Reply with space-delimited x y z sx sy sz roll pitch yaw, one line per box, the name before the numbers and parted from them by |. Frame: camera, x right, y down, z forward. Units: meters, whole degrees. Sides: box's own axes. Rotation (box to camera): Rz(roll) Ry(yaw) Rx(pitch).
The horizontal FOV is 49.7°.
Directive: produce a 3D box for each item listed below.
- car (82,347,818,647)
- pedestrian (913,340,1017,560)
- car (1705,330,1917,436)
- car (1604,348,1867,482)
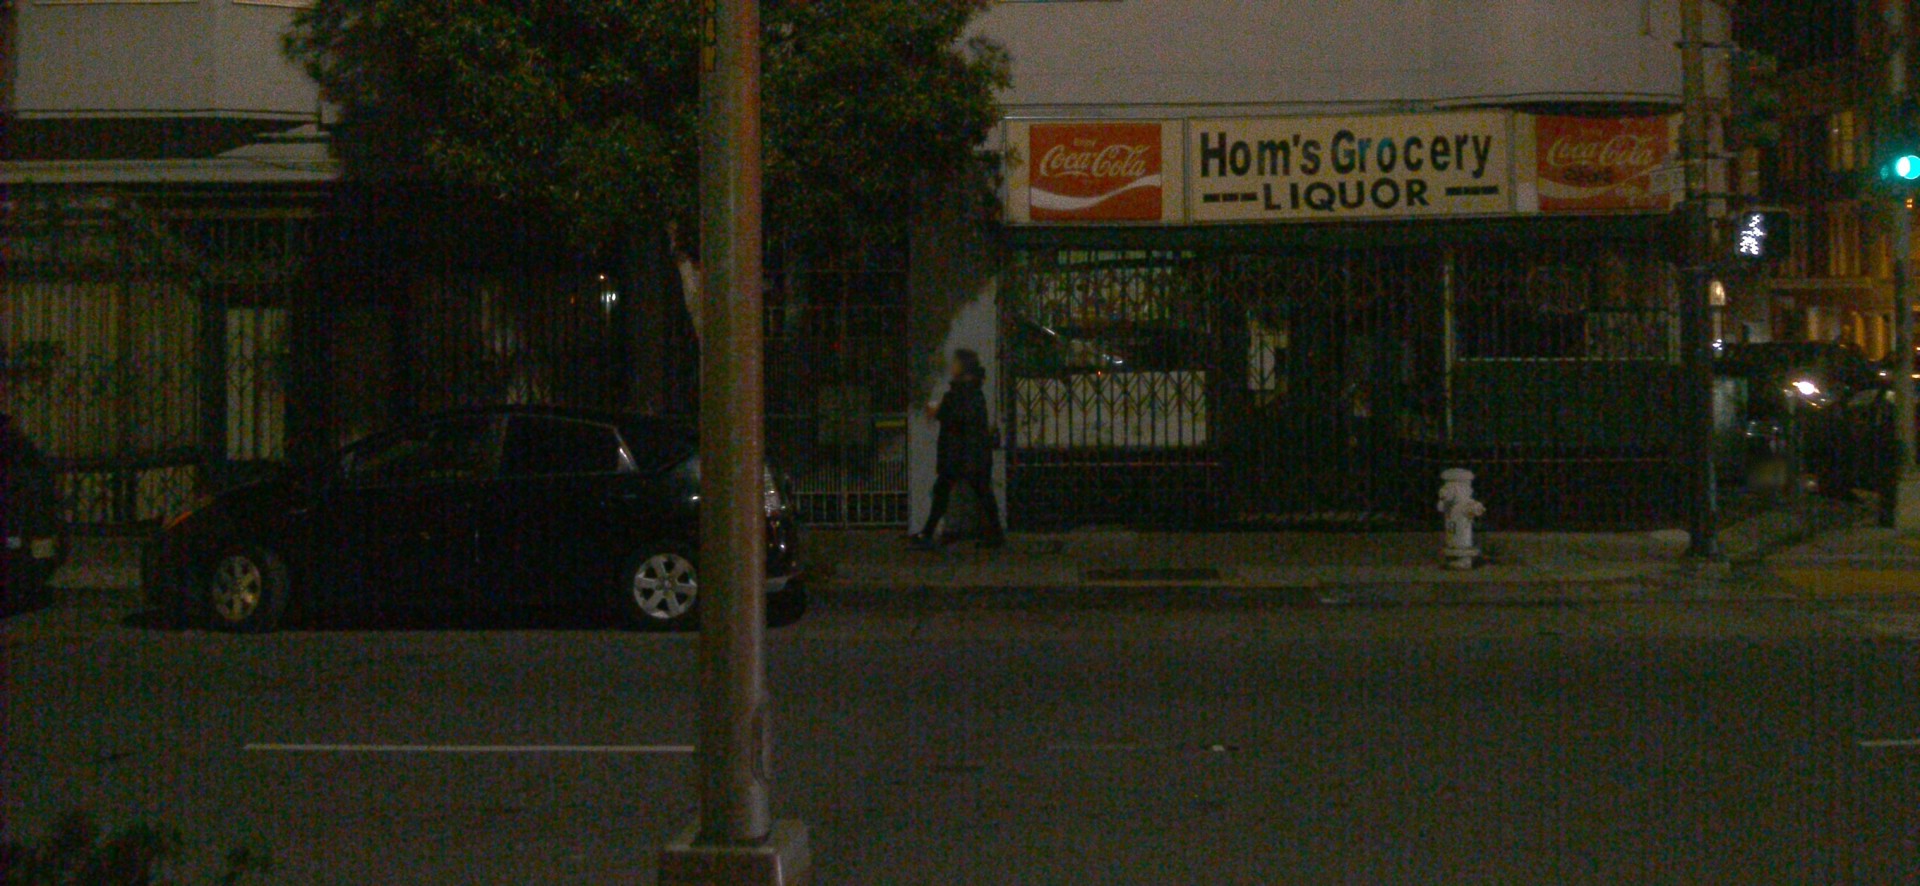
car | -3.306 0.303 14.168 4.570 1.776 1.947 0 4 -2
pedestrian | 0.030 0.038 16.853 0.820 1.688 0.880 0 2 -2
car | 14.757 -1.107 36.194 1.997 1.473 4.576 0 6 2
car | 10.409 -0.457 28.199 1.990 1.353 4.636 0 6 2
